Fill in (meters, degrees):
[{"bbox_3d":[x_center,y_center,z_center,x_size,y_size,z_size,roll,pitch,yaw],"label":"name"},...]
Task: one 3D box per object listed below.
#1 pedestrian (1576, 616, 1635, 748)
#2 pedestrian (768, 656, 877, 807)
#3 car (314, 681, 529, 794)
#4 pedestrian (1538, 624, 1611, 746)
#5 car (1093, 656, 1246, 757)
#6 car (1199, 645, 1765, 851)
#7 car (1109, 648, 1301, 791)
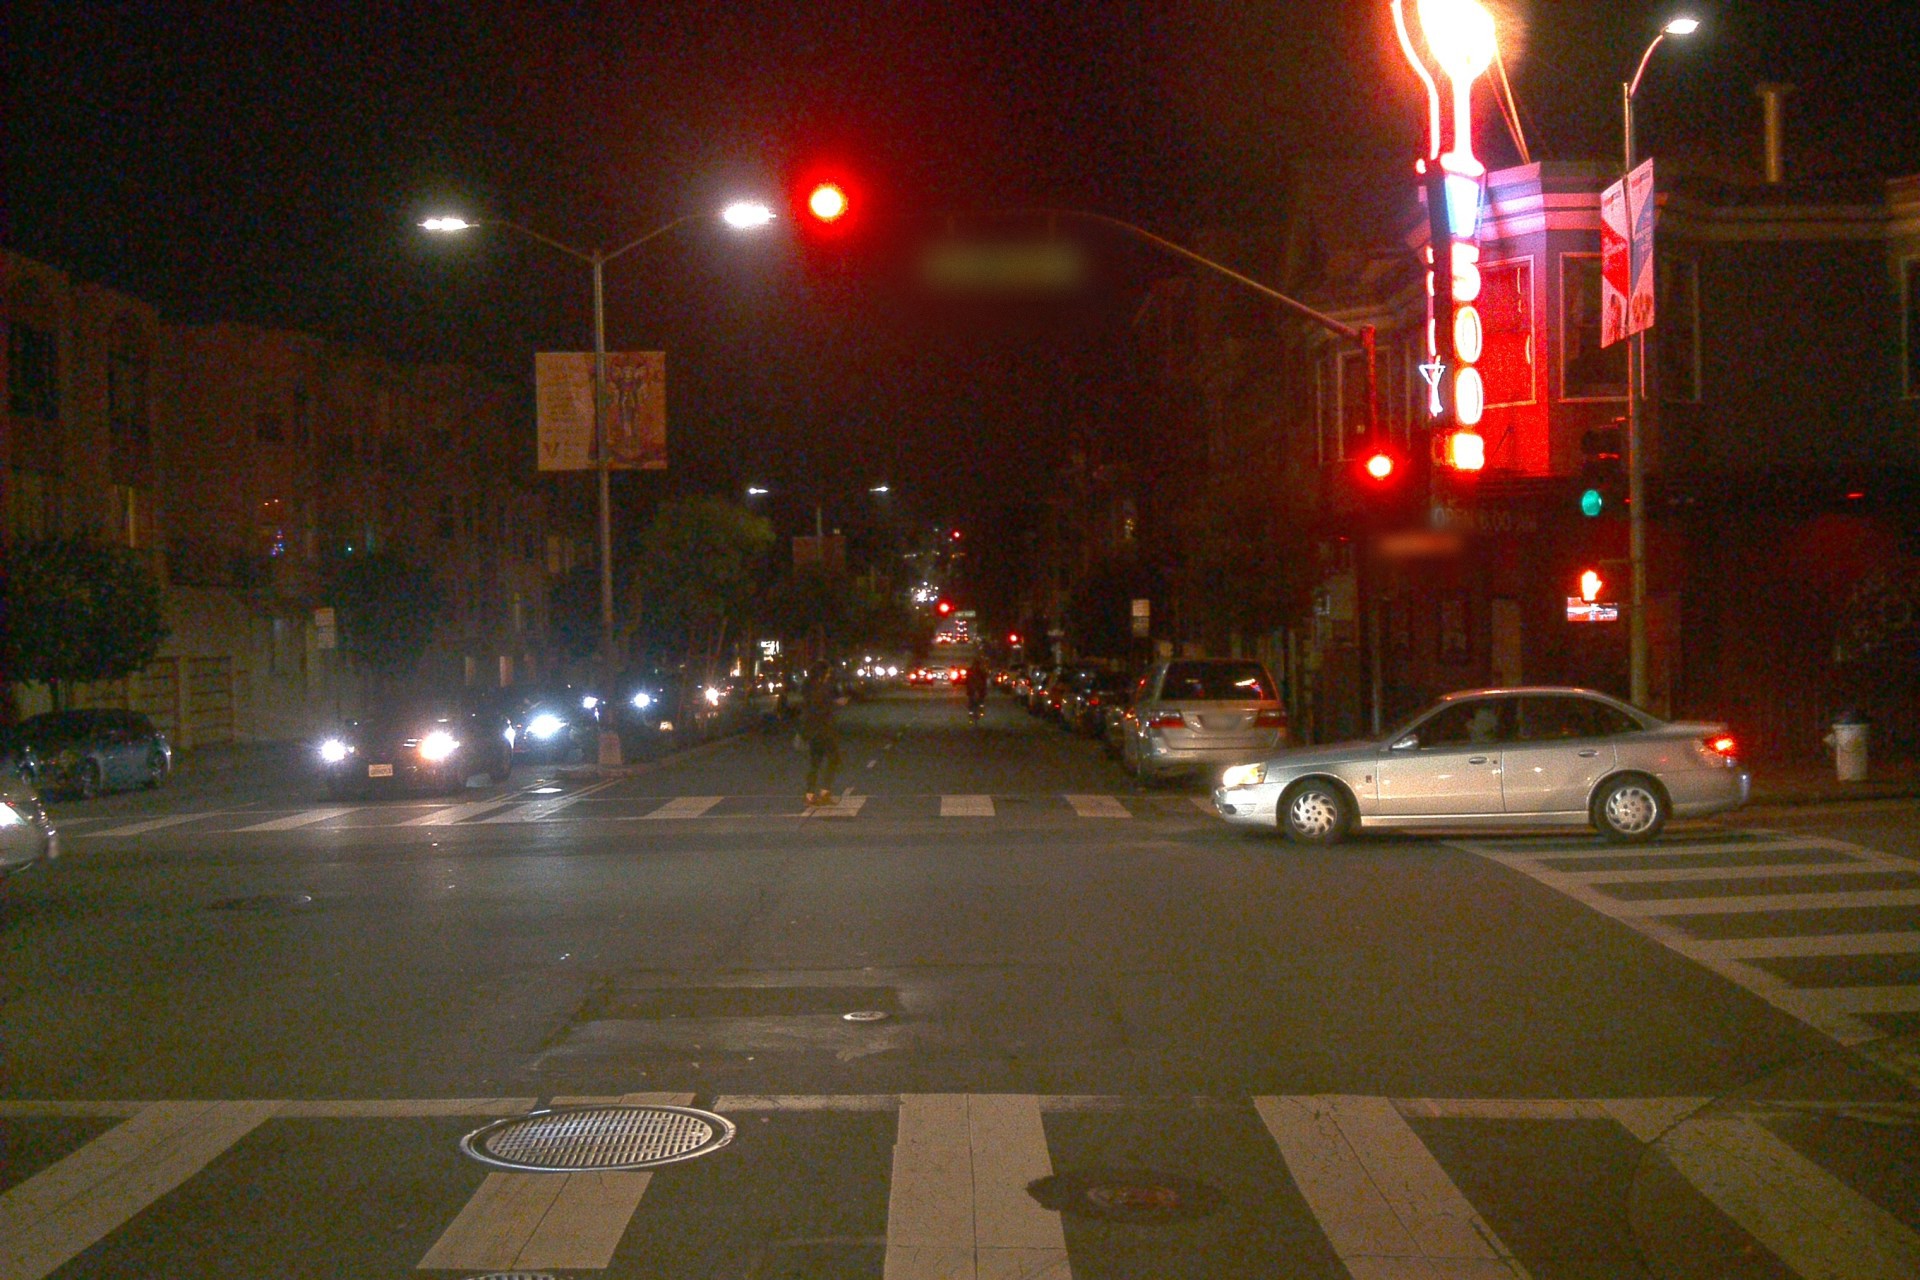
[{"bbox_3d":[9.050,0.577,28.828,0.739,1.820,0.628,1,0,20],"label":"pedestrian"},{"bbox_3d":[-1.580,1.041,23.810,1.189,1.690,0.924,1,0,0],"label":"pedestrian"},{"bbox_3d":[-7.621,1.334,29.552,1.903,1.390,4.511,1,0,0],"label":"car"},{"bbox_3d":[8.813,0.643,29.498,0.721,1.720,0.691,1,0,-18],"label":"pedestrian"},{"bbox_3d":[3.322,1.027,33.308,1.810,1.470,4.216,1,0,-3],"label":"car"},{"bbox_3d":[4.745,0.931,19.163,4.826,1.720,2.135,1,0,11],"label":"car"},{"bbox_3d":[3.288,1.020,28.469,2.087,1.770,4.655,1,0,0],"label":"car"}]
